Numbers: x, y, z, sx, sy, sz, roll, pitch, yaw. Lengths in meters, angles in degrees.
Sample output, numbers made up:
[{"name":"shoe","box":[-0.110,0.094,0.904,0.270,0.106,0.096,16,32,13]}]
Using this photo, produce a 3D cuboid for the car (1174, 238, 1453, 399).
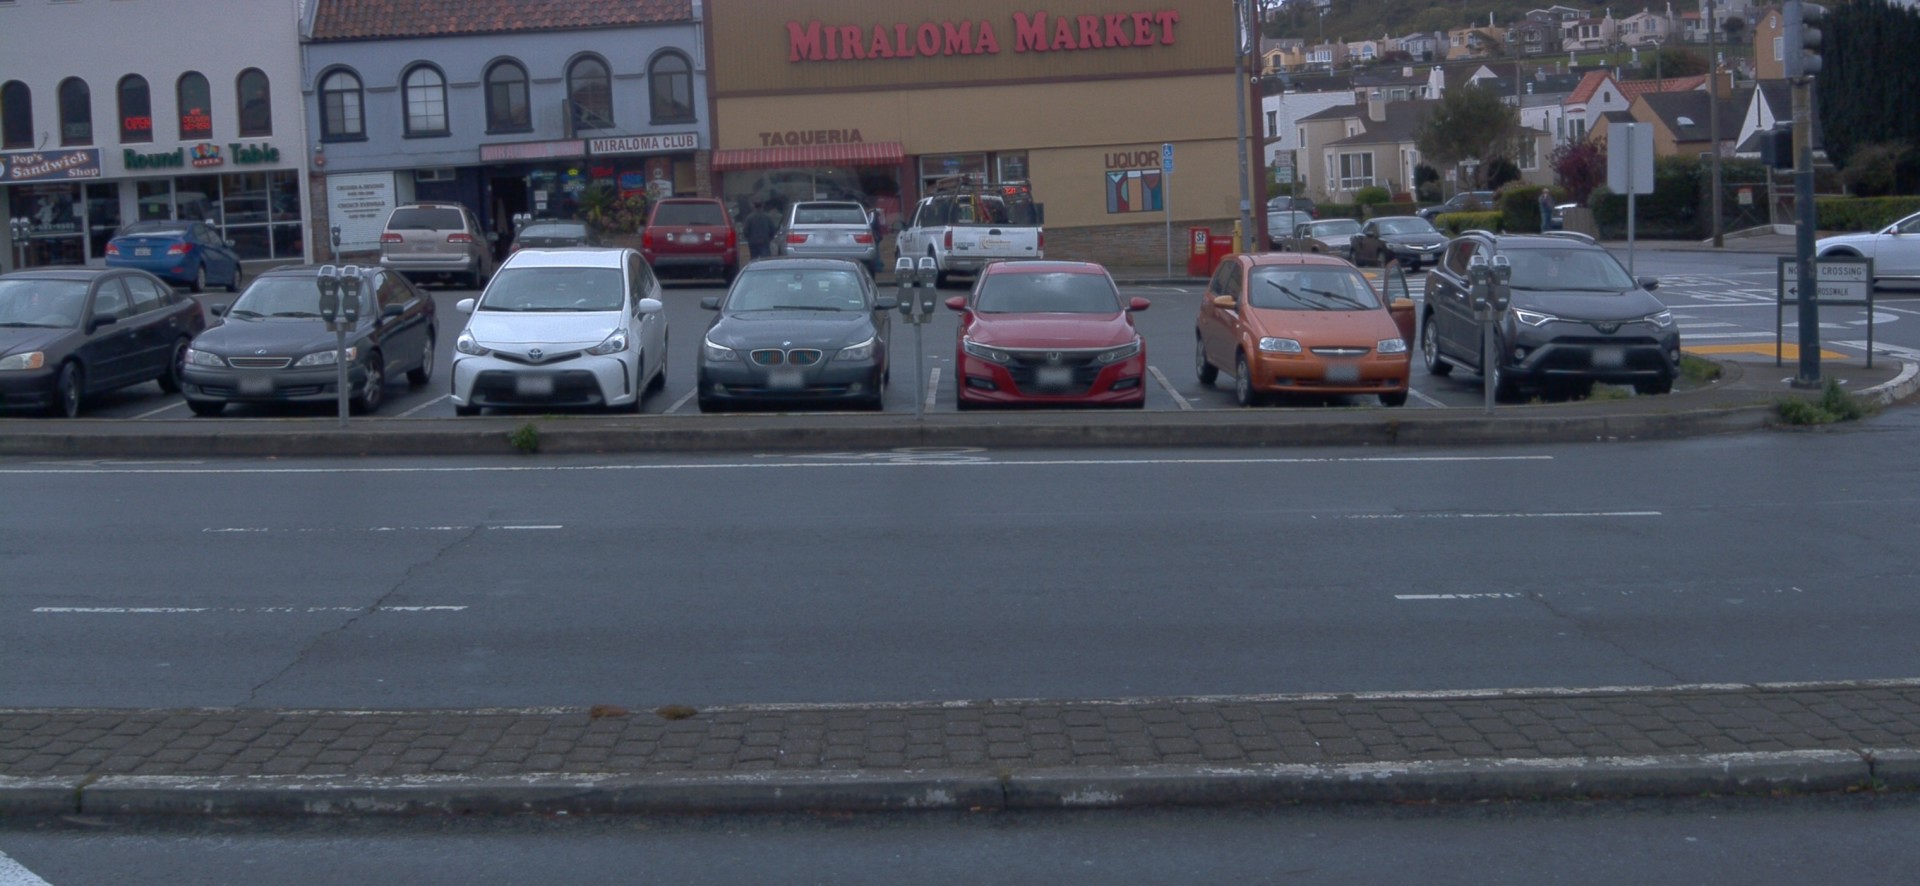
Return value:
[{"name":"car","box":[3.606,-1.397,21.809,2.049,1.462,4.037,0,6,-4]}]

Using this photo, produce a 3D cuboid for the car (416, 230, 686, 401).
[{"name":"car","box":[-4.069,-1.418,21.321,2.132,1.491,4.678,0,6,-4]}]

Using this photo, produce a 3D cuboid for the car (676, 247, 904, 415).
[{"name":"car","box":[-1.659,-1.270,21.658,2.112,1.461,4.574,0,6,-1]}]

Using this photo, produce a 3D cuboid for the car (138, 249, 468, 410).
[{"name":"car","box":[-6.720,-1.285,21.702,2.023,1.392,4.712,0,6,-1]}]

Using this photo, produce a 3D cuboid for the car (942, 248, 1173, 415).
[{"name":"car","box":[0.905,-1.275,21.830,2.185,1.461,4.636,0,6,-1]}]

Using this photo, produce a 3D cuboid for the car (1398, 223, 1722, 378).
[{"name":"car","box":[6.387,-1.642,22.575,2.205,1.461,4.580,0,6,0]}]
